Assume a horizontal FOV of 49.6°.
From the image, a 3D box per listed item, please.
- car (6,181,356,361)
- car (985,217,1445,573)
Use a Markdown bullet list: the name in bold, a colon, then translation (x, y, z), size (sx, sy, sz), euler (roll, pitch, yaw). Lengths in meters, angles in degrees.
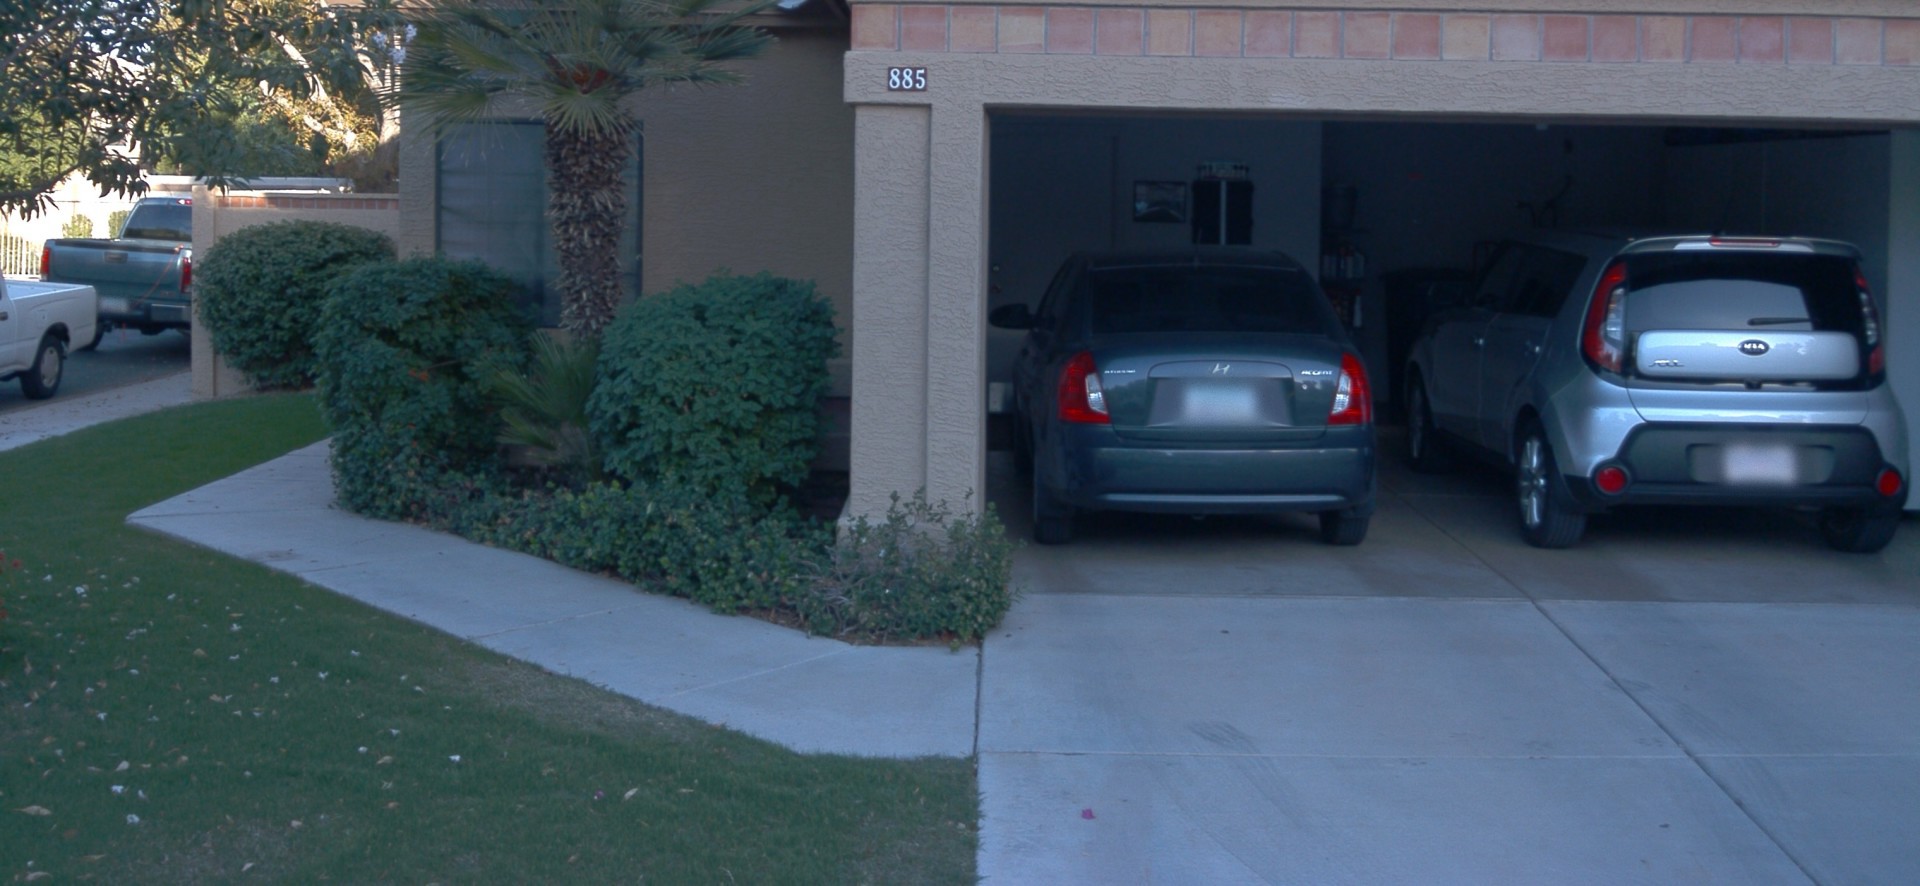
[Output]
- **car**: translation (-9.545, -2.201, 26.079), size (2.172, 1.983, 5.484), euler (1, 5, 2)
- **car**: translation (1.176, -0.430, 11.563), size (2.043, 1.574, 4.394), euler (1, 5, 0)
